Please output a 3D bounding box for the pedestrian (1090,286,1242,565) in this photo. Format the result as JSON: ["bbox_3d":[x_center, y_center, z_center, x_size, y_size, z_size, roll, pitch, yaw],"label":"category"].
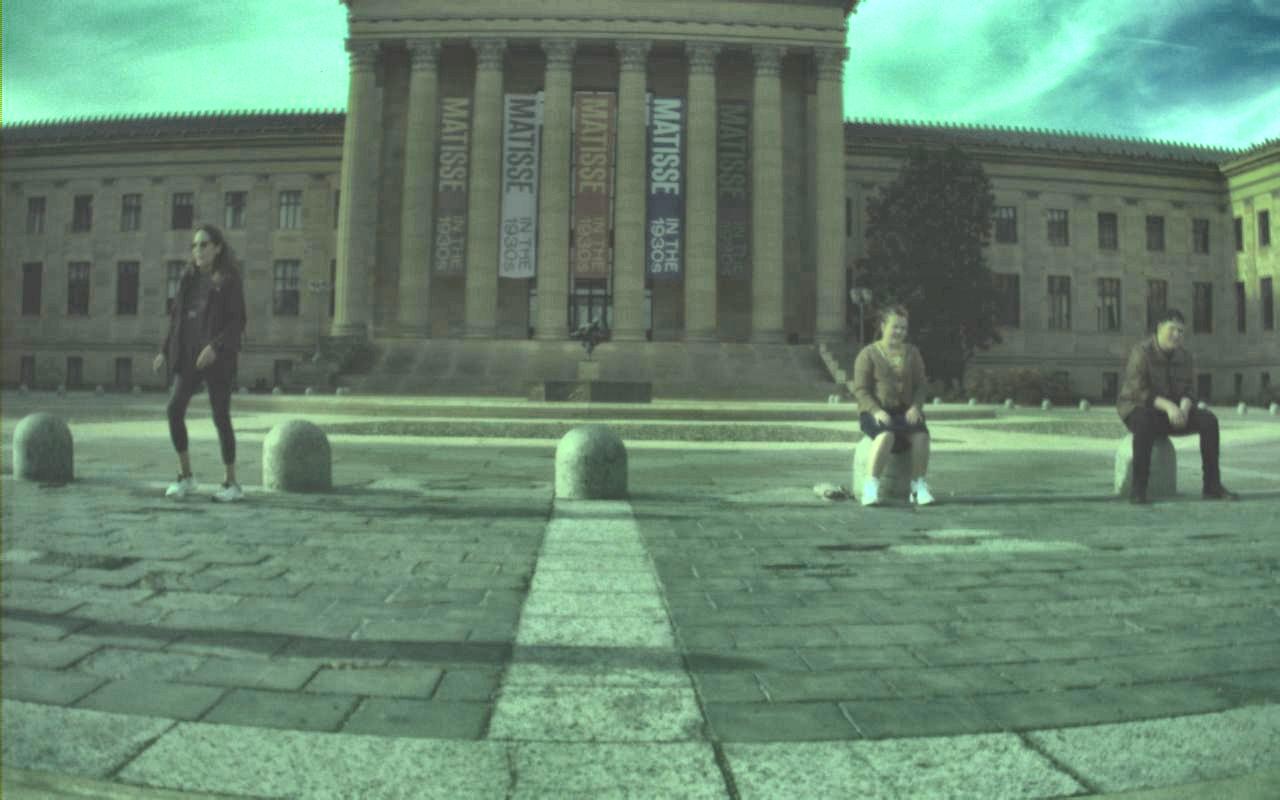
[{"bbox_3d":[3.507,0.172,7.824,0.844,1.768,0.852,0,0,7],"label":"pedestrian"}]

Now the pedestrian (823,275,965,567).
[{"bbox_3d":[1.597,0.128,7.915,0.829,1.770,0.827,0,0,7],"label":"pedestrian"}]

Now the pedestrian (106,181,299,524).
[{"bbox_3d":[-2.510,-0.255,6.794,0.798,1.813,0.830,1,0,20],"label":"pedestrian"}]
